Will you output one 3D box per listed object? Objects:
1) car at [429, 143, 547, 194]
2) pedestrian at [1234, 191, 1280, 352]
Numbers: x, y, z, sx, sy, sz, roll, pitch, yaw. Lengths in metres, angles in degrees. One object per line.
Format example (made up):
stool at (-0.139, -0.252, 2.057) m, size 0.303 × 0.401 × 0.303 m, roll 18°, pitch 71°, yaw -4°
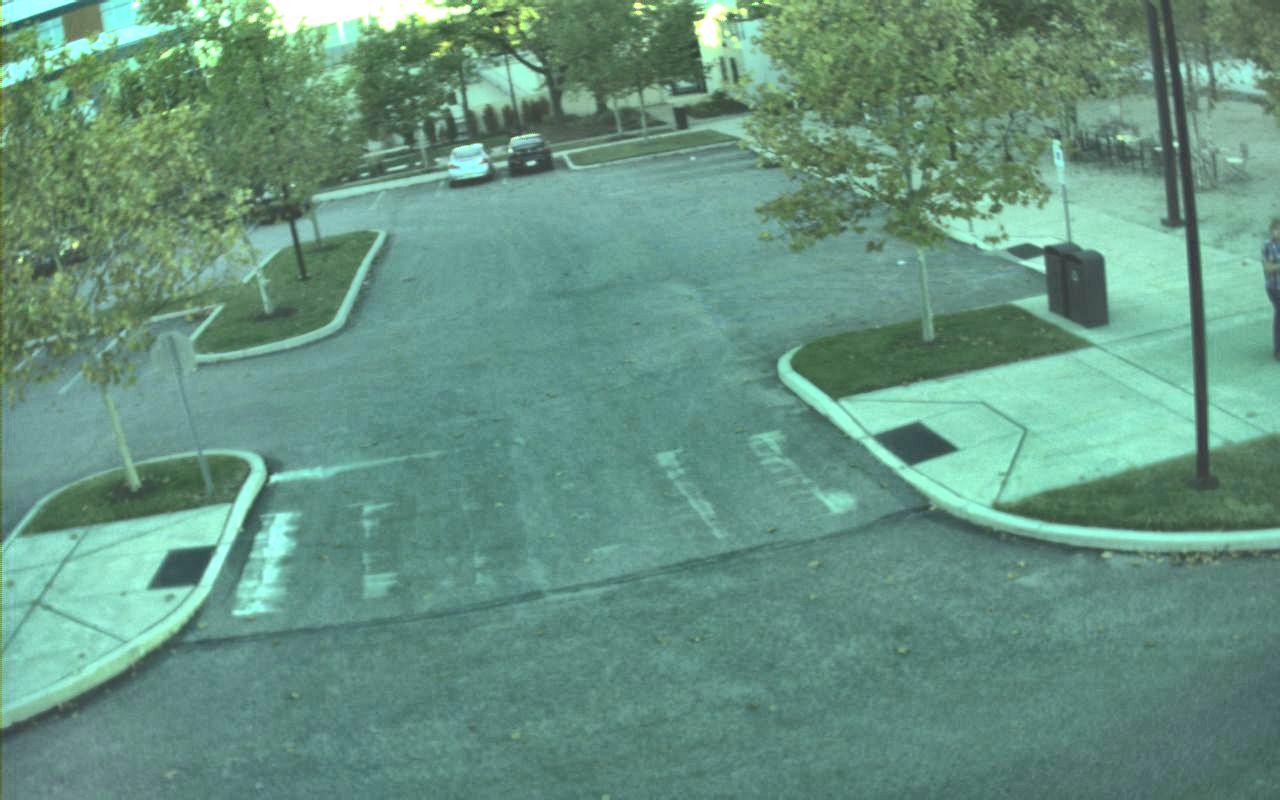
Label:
car at (-5.989, -9.084, 48.836) m, size 4.545 × 1.596 × 1.976 m, roll -3°, pitch 16°, yaw -8°
pedestrian at (8.003, -1.597, 14.249) m, size 0.737 × 1.860 × 0.763 m, roll 13°, pitch 20°, yaw 42°
